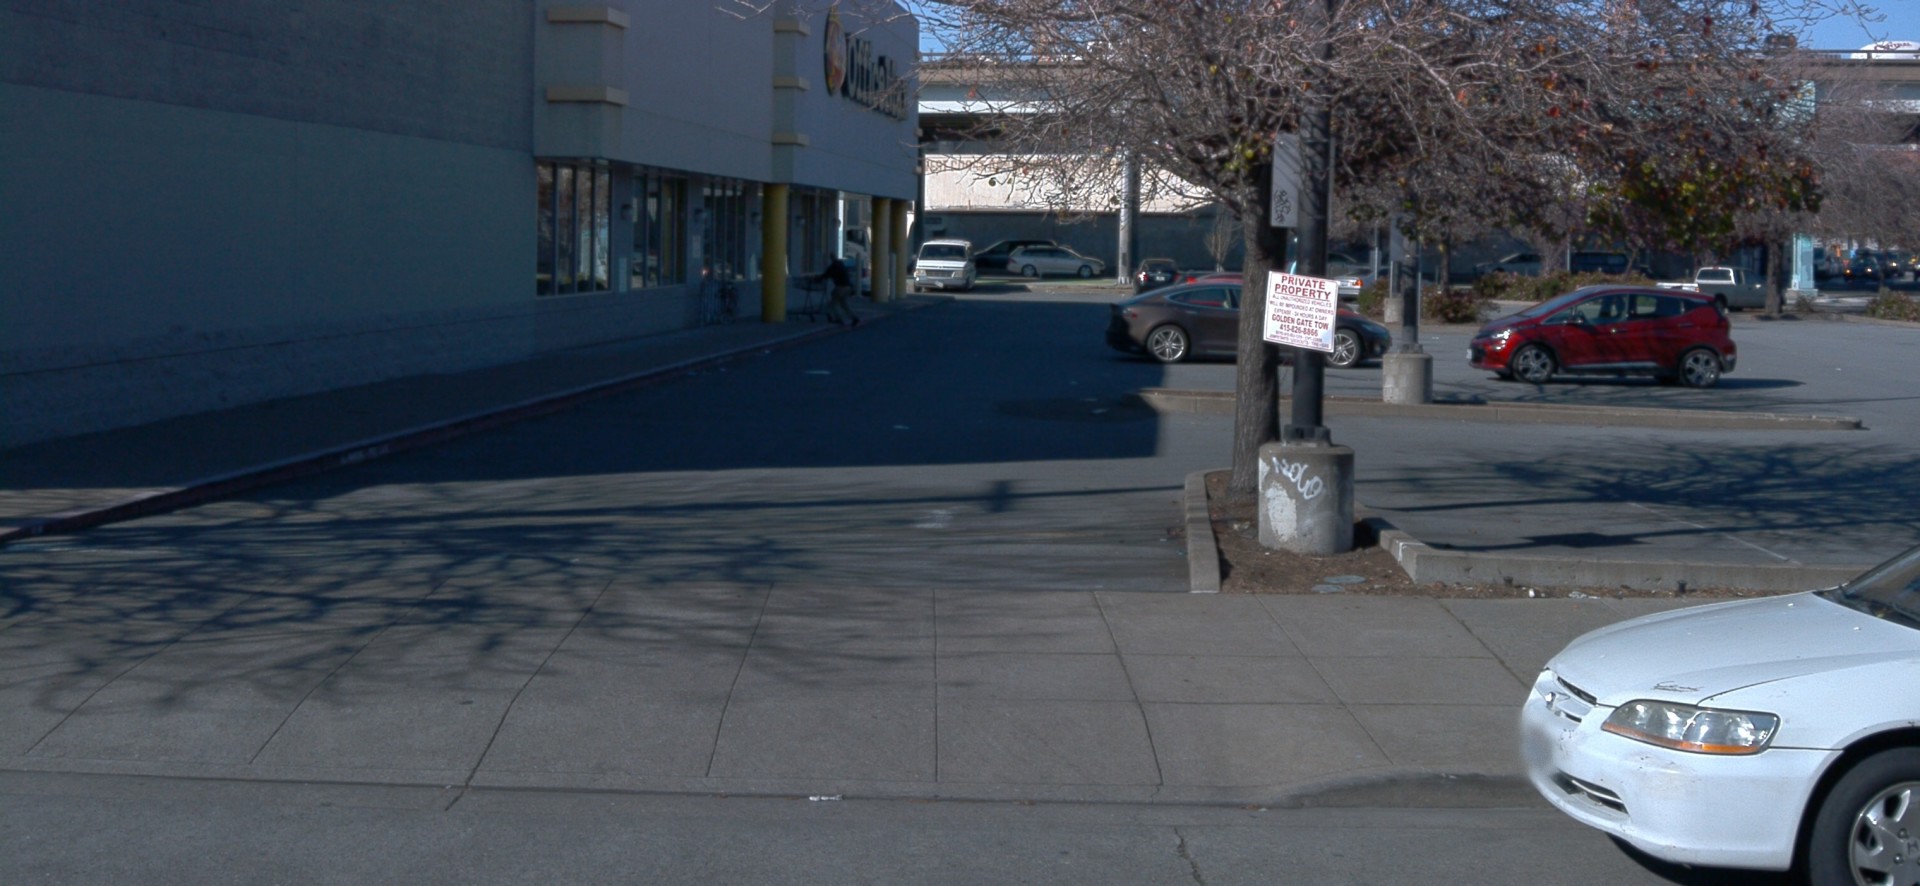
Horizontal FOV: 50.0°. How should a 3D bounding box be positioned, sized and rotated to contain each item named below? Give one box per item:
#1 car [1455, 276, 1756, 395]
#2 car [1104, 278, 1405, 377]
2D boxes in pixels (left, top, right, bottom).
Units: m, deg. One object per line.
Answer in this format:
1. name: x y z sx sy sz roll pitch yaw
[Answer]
1. car: 10.199 -1.741 32.752 4.156 1.695 2.038 1 4 2
2. car: 5.060 -2.039 35.897 5.044 1.525 1.995 1 4 5
